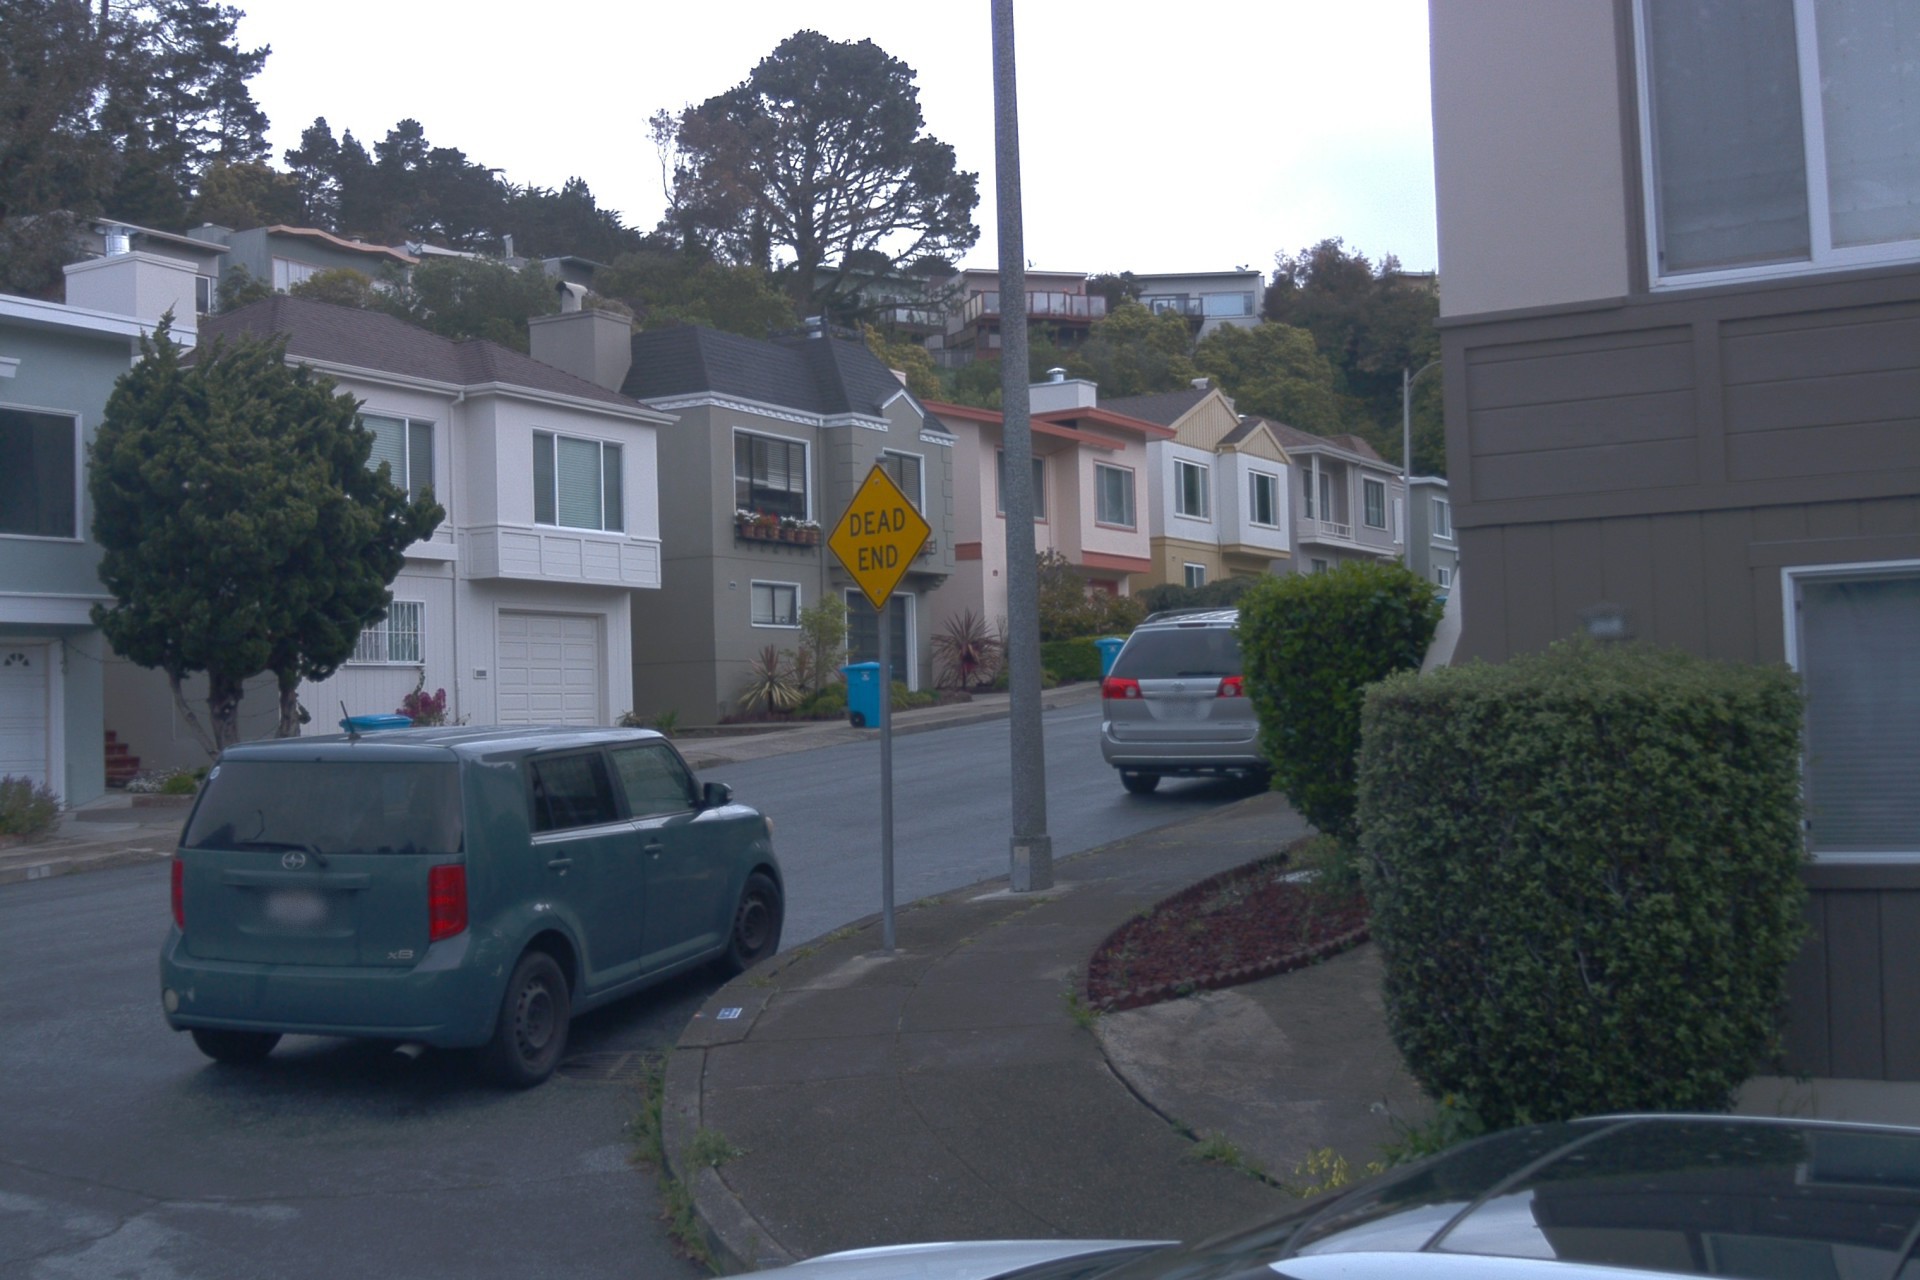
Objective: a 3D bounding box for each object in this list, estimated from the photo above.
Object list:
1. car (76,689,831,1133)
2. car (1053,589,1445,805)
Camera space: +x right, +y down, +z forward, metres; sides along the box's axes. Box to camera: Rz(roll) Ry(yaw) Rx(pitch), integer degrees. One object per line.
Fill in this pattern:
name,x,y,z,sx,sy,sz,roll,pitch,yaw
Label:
car,-2.378,1.194,11.144,2.033,1.770,4.265,1,0,17
car,3.141,0.529,21.724,2.415,1.960,4.908,0,0,29
